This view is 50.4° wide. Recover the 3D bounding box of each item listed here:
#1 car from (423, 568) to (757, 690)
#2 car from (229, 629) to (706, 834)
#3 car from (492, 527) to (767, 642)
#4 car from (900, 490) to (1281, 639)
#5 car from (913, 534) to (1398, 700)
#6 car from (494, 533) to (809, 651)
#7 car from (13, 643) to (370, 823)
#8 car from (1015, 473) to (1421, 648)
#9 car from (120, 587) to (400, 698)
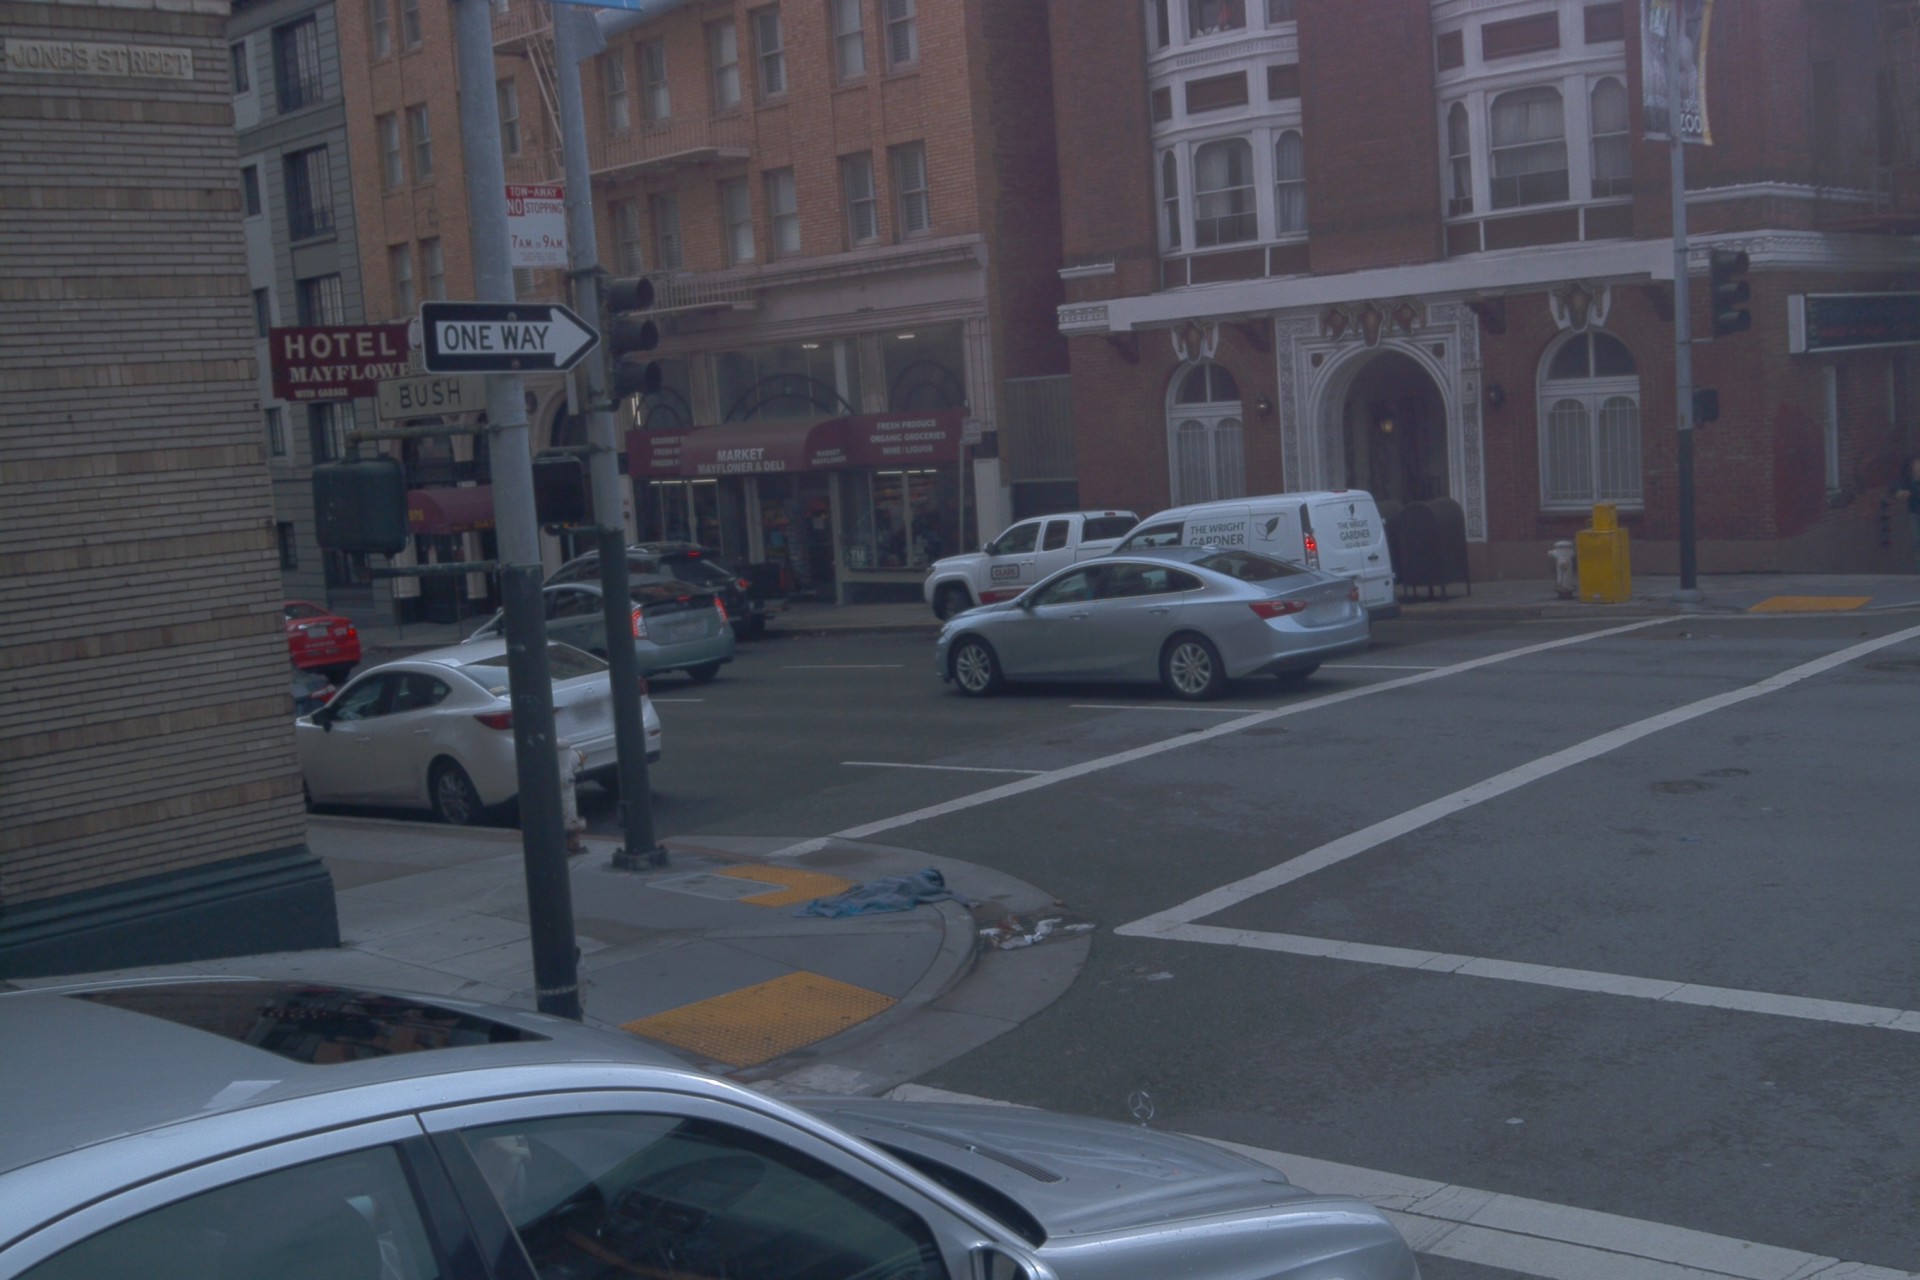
[{"bbox_3d":[-4.963,-0.190,26.992,4.500,1.470,2.058,2,1,43],"label":"car"},{"bbox_3d":[-4.418,0.694,17.945,4.290,1.490,2.048,2,1,43],"label":"car"},{"bbox_3d":[-5.320,-0.885,32.456,4.624,1.700,1.865,2,1,44],"label":"car"},{"bbox_3d":[1.776,-1.057,29.322,5.308,1.950,2.112,2,1,43],"label":"car"},{"bbox_3d":[1.873,-0.265,20.724,4.727,1.500,1.880,2,1,44],"label":"car"},{"bbox_3d":[-5.642,-0.872,36.739,5.917,1.960,2.408,2,1,43],"label":"car"},{"bbox_3d":[-8.238,0.893,21.685,4.190,1.610,1.891,2,1,43],"label":"car"},{"bbox_3d":[2.969,-0.910,24.157,4.461,1.870,1.947,2,1,44],"label":"car"},{"bbox_3d":[-11.766,0.000,34.124,4.902,1.680,2.362,2,1,43],"label":"car"}]
